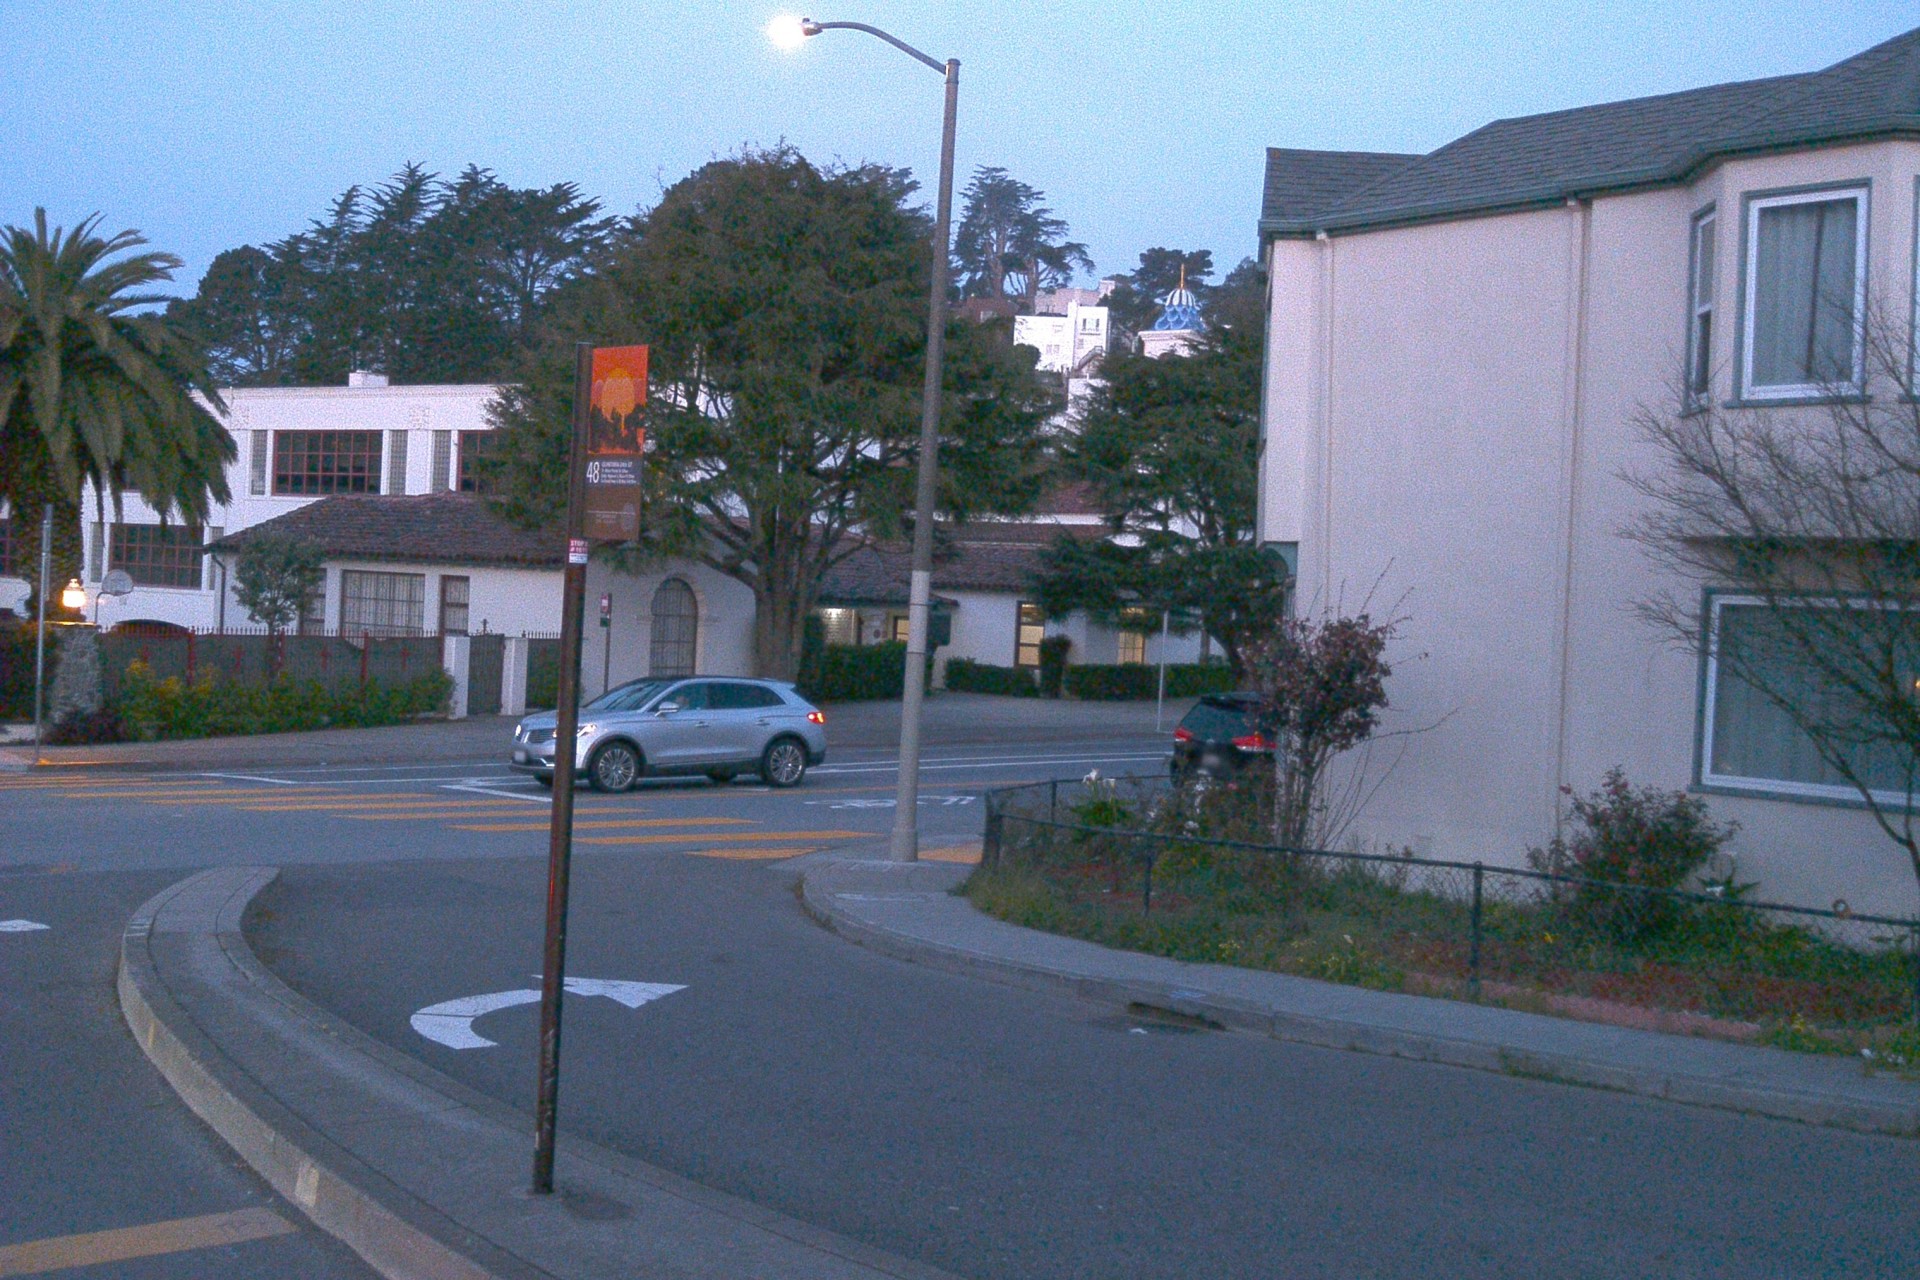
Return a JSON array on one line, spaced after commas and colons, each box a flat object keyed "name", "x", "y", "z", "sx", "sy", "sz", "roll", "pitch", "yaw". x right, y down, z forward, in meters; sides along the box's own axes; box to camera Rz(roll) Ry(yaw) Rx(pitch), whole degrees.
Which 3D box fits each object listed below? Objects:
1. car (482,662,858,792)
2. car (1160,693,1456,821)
[{"name": "car", "x": -4.179, "y": 1.204, "z": 30.665, "sx": 5.027, "sy": 1.730, "sz": 2.150, "roll": 1, "pitch": 0, "yaw": -39}, {"name": "car", "x": 5.027, "y": 1.629, "z": 30.201, "sx": 3.819, "sy": 1.660, "sz": 2.058, "roll": 1, "pitch": 0, "yaw": -34}]
